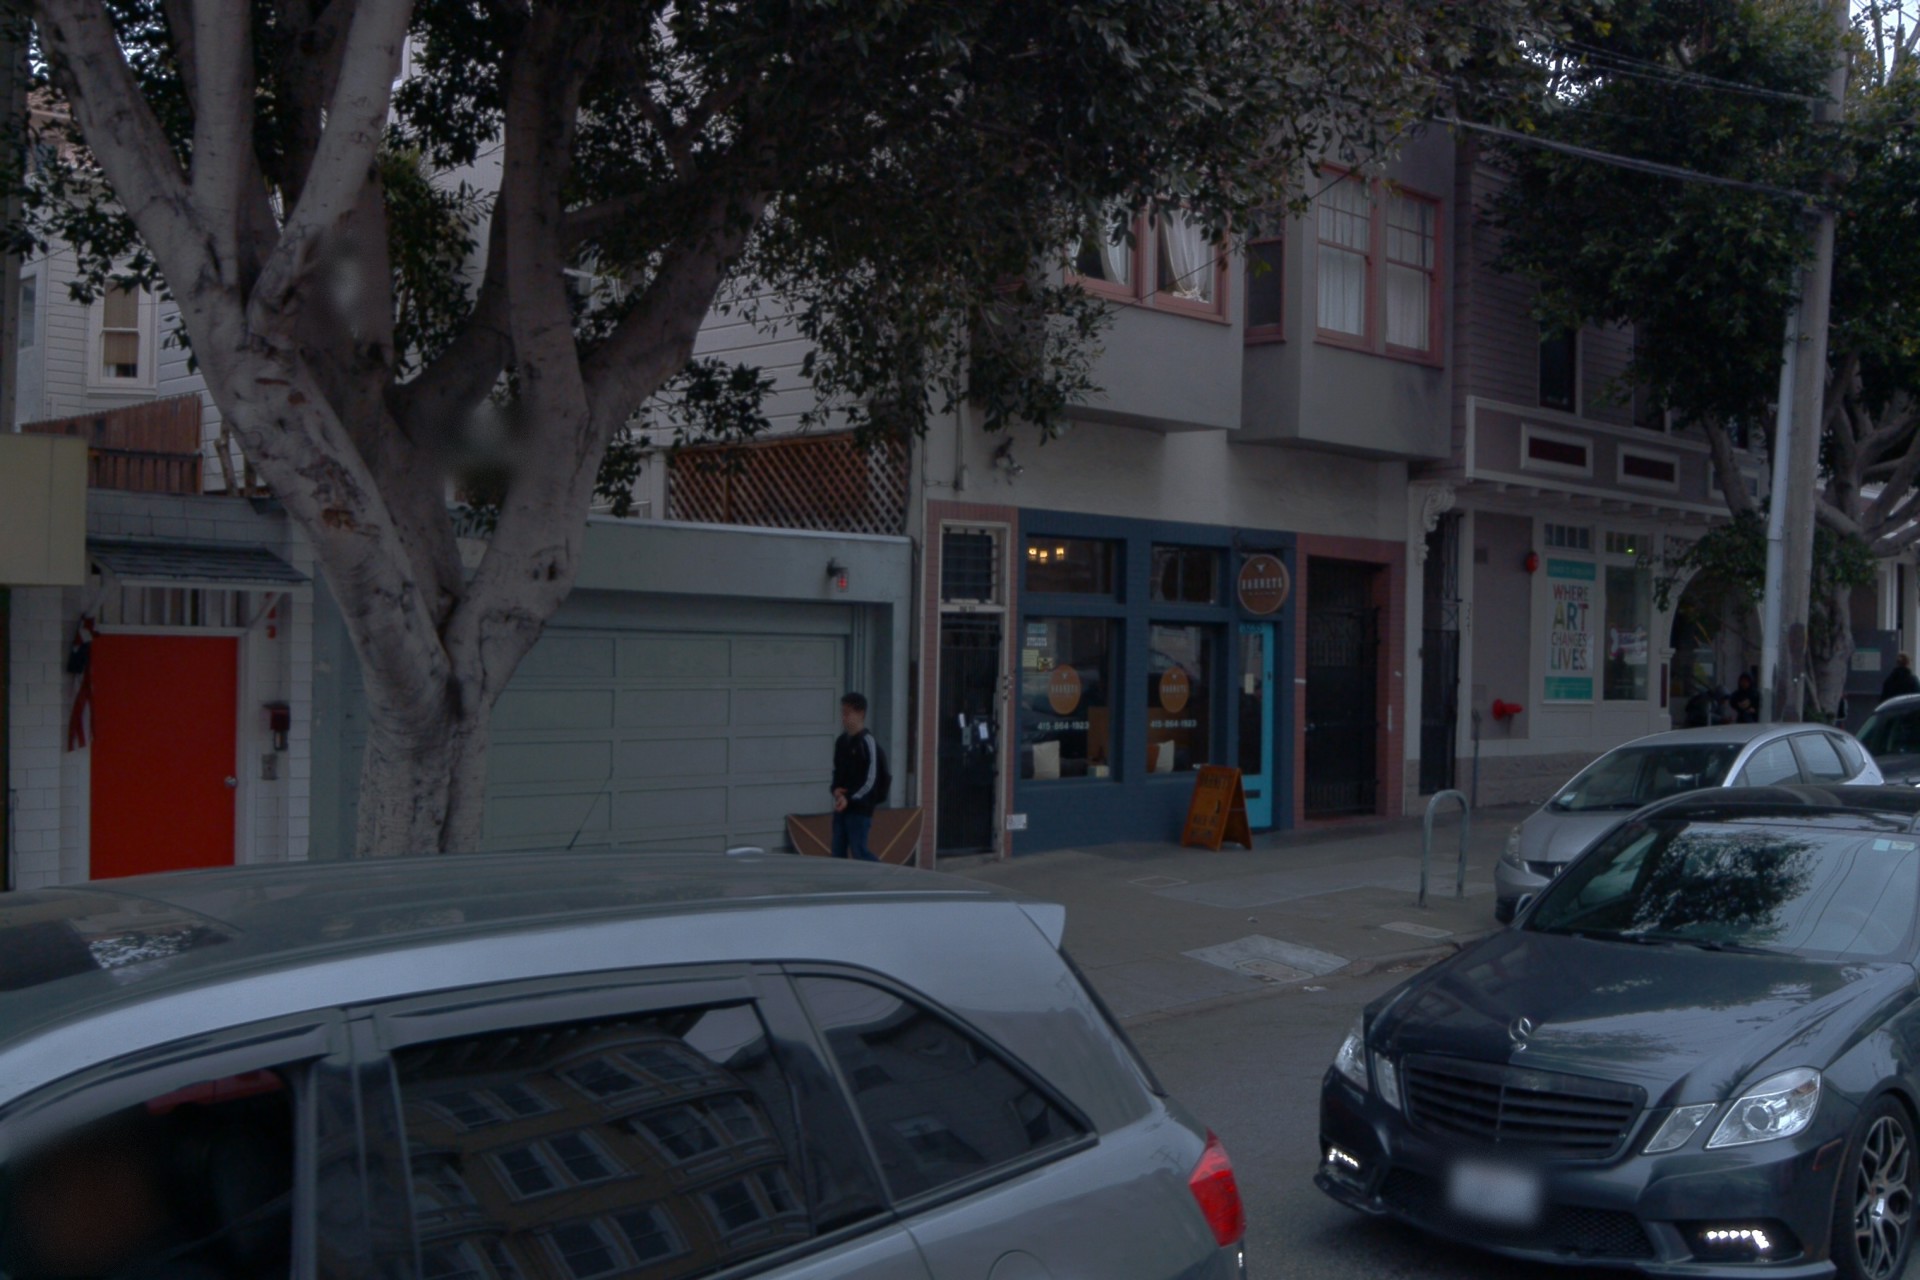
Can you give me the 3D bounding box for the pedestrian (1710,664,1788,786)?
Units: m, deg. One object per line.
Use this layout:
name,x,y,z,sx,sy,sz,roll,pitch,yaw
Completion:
pedestrian,10.709,1.135,27.997,0.730,1.590,0.778,1,1,44

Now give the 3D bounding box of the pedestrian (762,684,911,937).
pedestrian,-0.902,1.215,15.102,0.871,1.740,0.658,-1,1,-44
